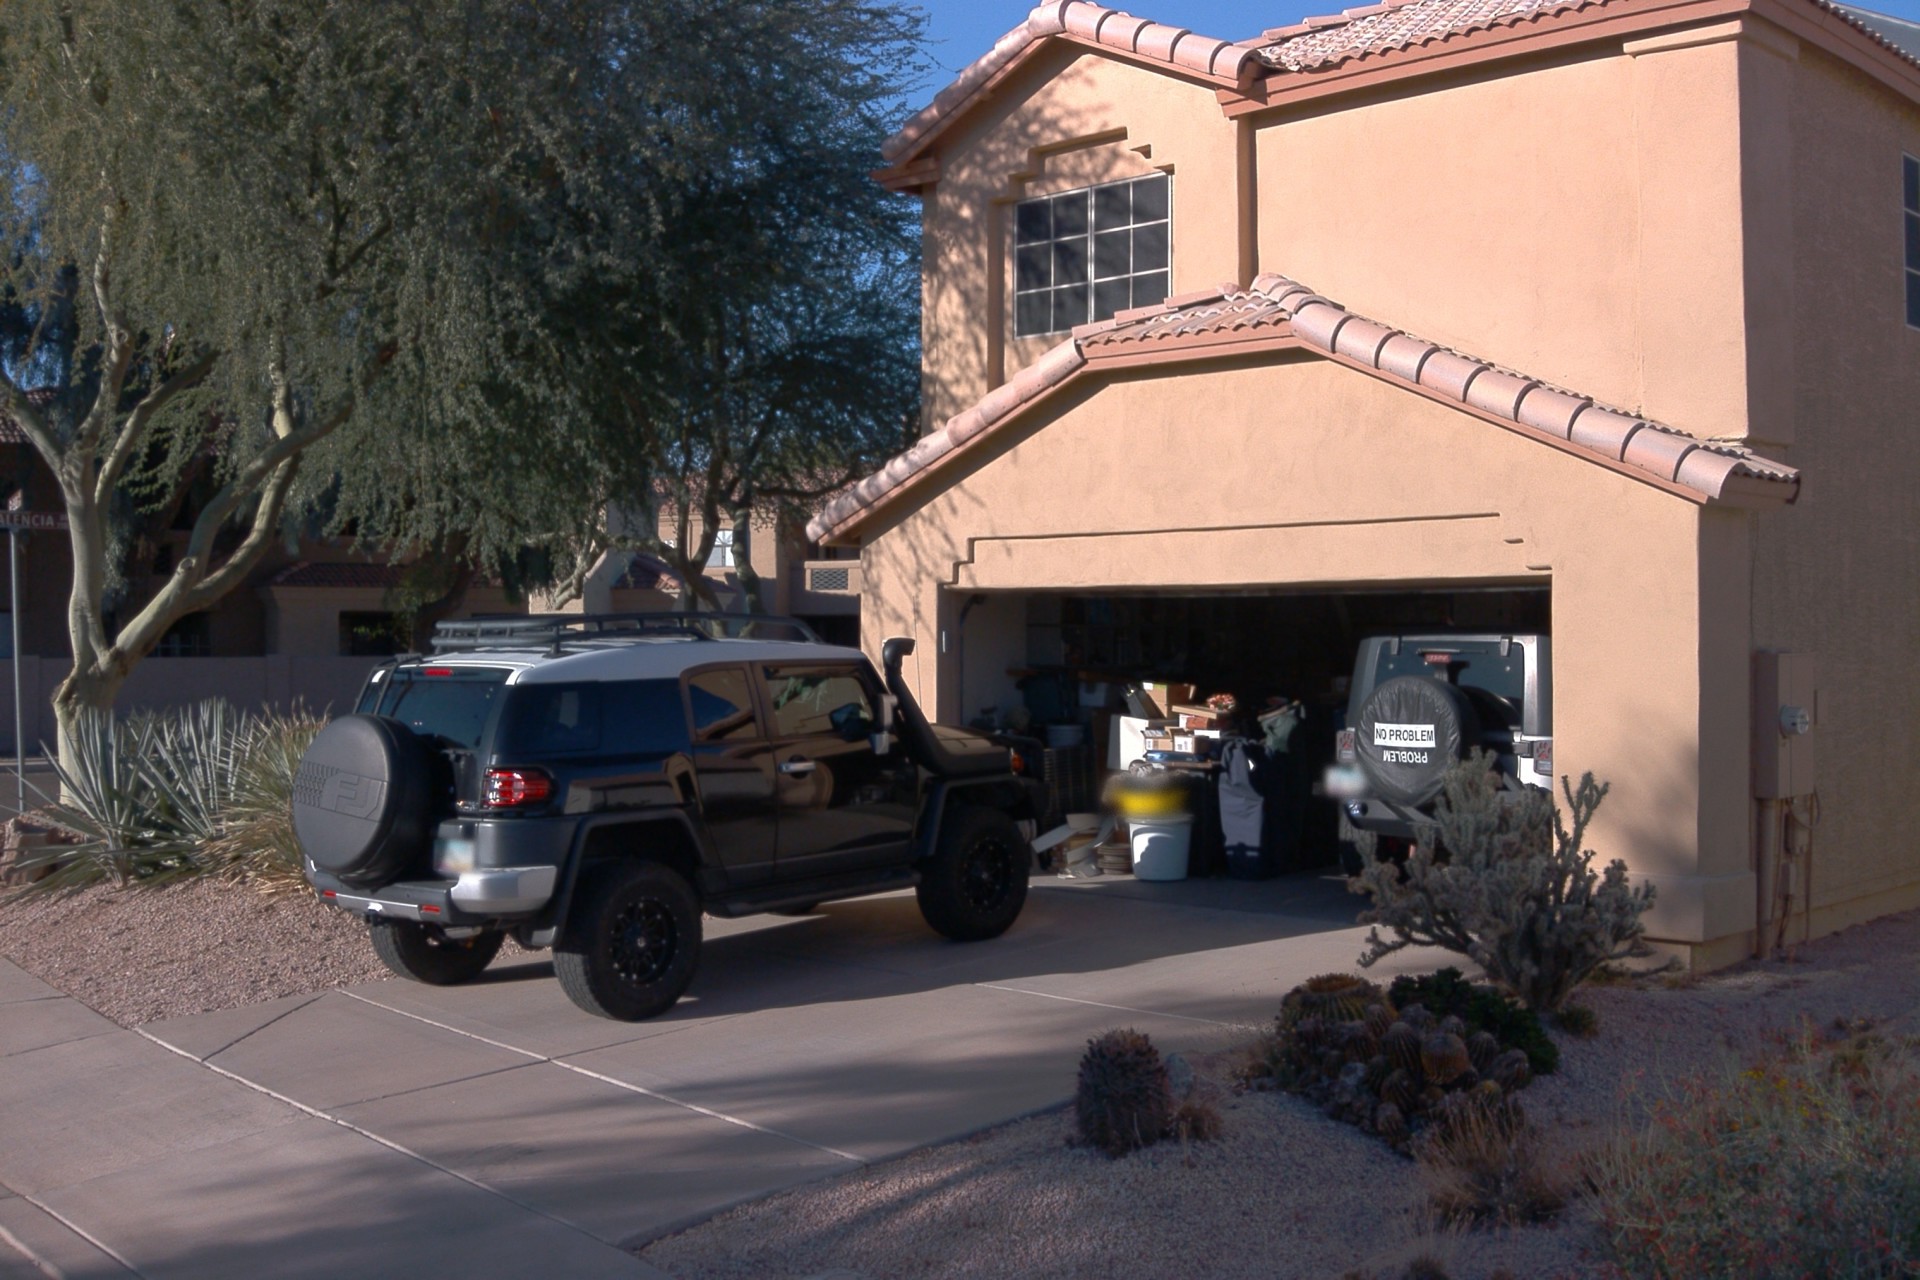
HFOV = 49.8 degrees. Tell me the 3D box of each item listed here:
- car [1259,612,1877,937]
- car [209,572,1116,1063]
[{"bbox_3d":[4.425,0.818,14.504,2.058,1.880,4.981,0,-1,44],"label":"car"},{"bbox_3d":[-1.476,0.847,11.962,2.028,2.240,4.978,0,-1,43],"label":"car"}]
